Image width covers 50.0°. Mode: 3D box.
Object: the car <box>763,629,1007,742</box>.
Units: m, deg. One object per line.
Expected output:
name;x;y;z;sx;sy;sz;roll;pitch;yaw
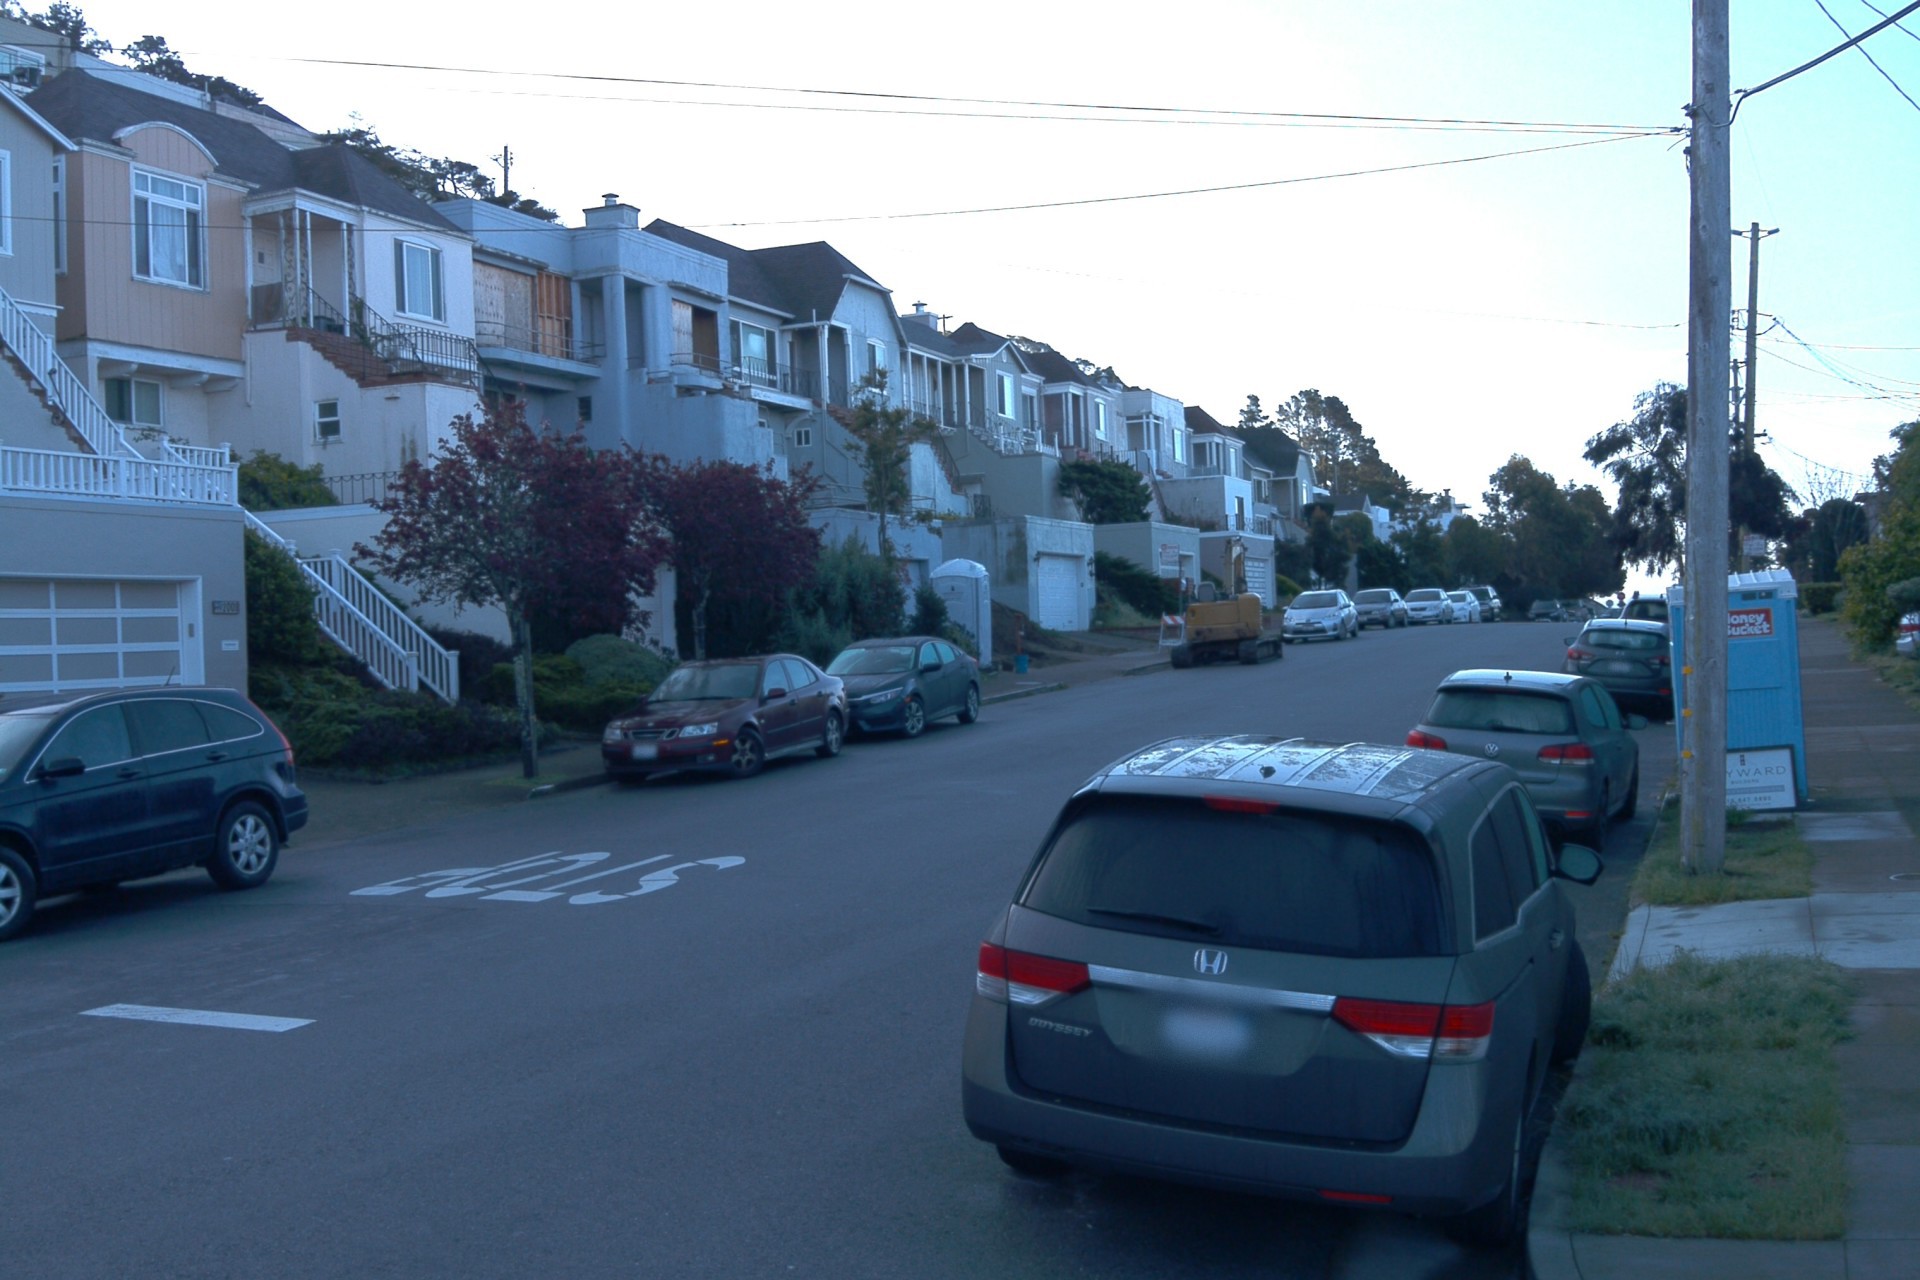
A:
car;-1.015;0.634;30.948;2.162;1.560;4.756;0;0;18

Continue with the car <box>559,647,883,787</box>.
car;-2.840;0.872;25.736;2.150;1.560;4.799;0;0;19

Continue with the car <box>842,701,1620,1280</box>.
car;1.592;1.283;9.159;2.389;1.860;5.191;0;0;20

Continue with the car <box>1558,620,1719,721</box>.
car;10.770;0.448;32.477;2.106;1.480;4.613;0;0;22

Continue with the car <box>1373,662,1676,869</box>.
car;5.334;1.039;19.041;2.047;1.630;4.351;0;0;24
